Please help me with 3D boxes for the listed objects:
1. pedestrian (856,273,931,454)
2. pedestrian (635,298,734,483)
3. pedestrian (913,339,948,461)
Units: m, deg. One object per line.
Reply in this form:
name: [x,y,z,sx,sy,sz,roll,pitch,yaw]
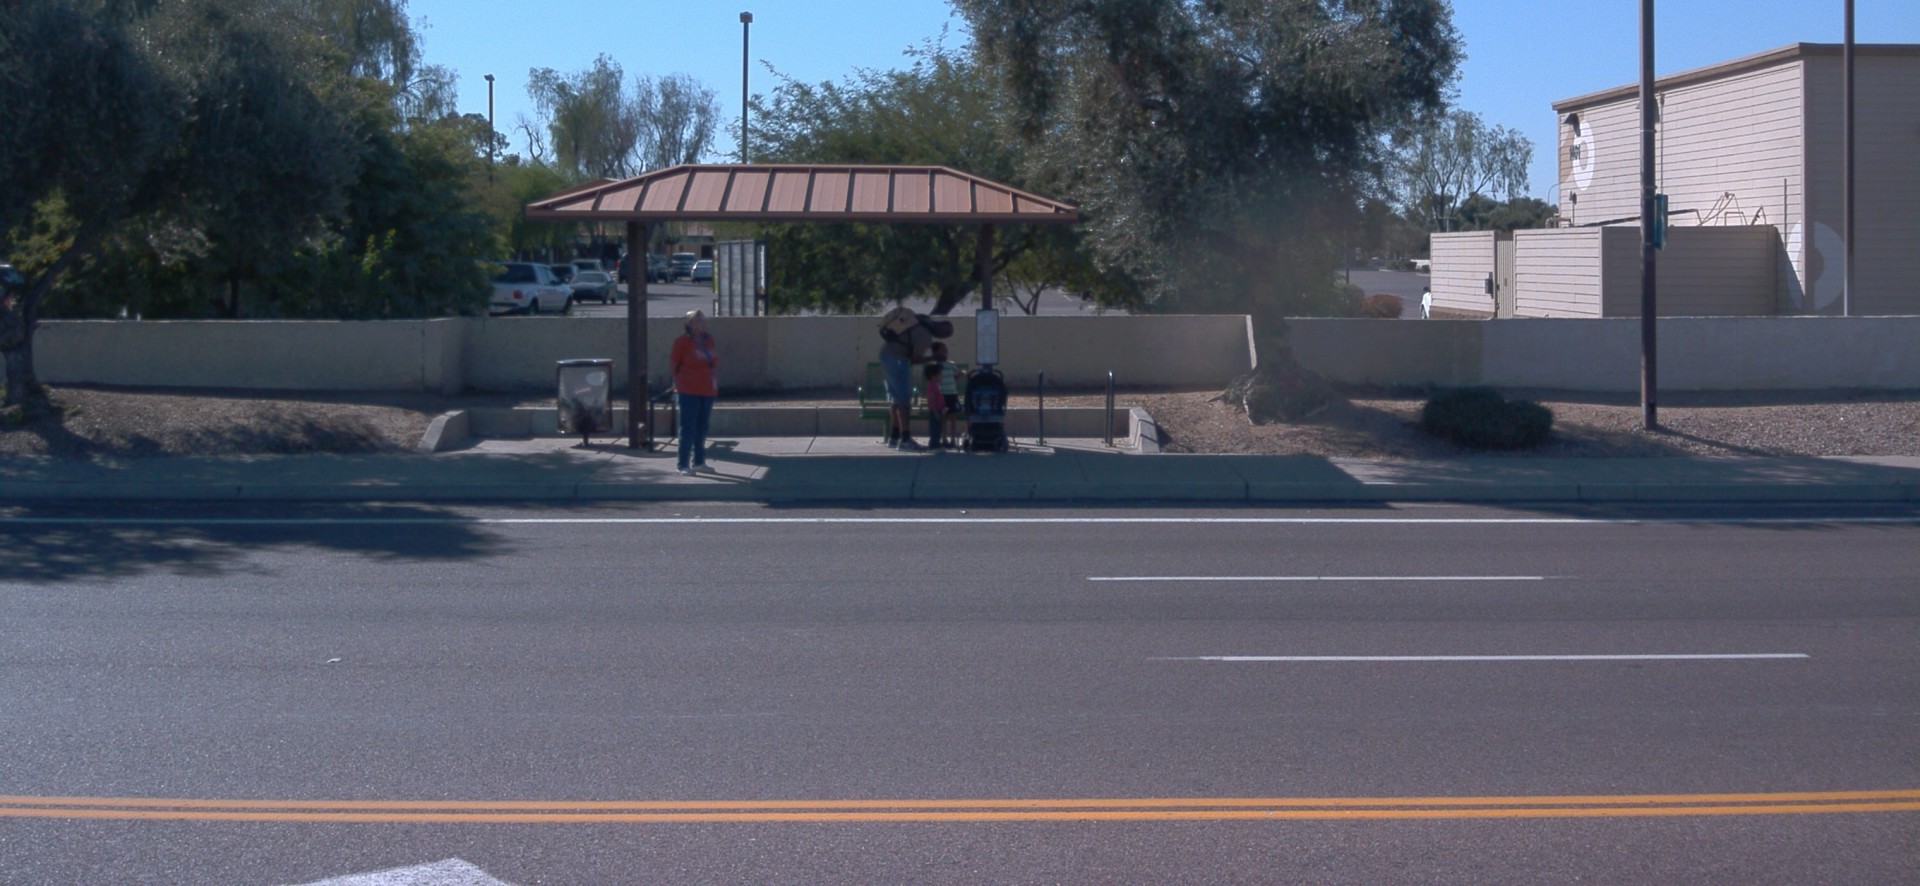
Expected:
pedestrian: [-0.701,-0.859,21.997,0.776,1.858,0.776,0,1,-2]
pedestrian: [-2.668,-0.526,20.083,0.634,1.718,0.691,1,2,36]
pedestrian: [-0.317,-0.469,22.336,0.364,1.289,0.399,0,1,-1]
